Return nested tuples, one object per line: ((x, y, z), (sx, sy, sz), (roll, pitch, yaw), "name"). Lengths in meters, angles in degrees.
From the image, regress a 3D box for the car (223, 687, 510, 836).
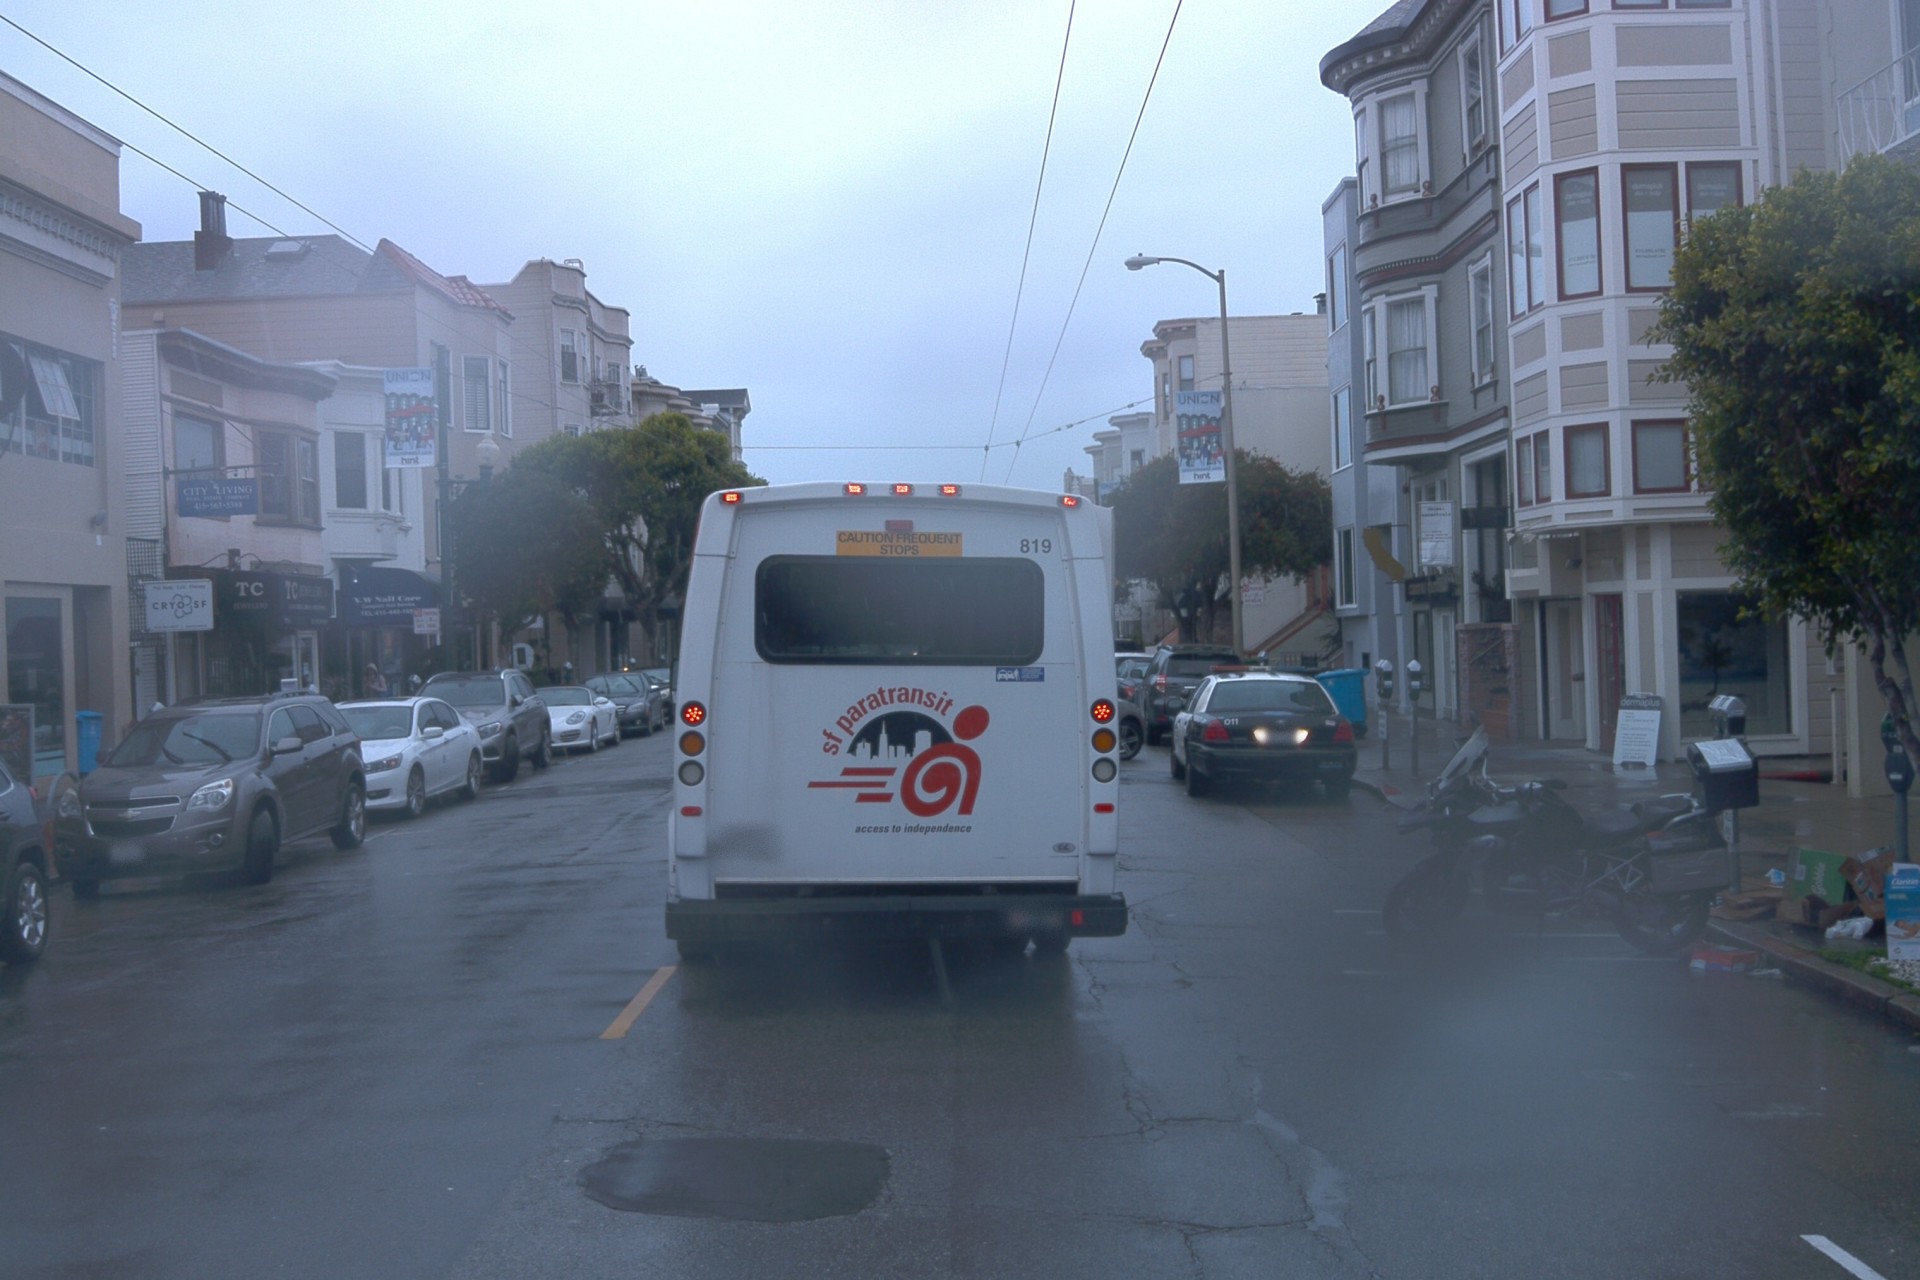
((-7.500, 1.478, 26.643), (2.131, 1.540, 5.132), (1, 1, 1), "car")

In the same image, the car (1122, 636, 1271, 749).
((4.026, 0.846, 35.851), (2.116, 1.790, 4.480), (1, 1, 1), "car")

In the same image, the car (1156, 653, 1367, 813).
((3.638, 1.058, 25.842), (2.108, 1.690, 5.363), (1, 1, 3), "car")

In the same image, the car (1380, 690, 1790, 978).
((3.882, 1.178, 13.039), (2.374, 1.650, 1.013), (1, 1, 12), "car")

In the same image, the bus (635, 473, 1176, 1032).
((-0.680, 0.548, 13.993), (2.785, 2.850, 6.710), (1, 1, -7), "bus")

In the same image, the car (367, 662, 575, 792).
((-7.535, 1.284, 32.286), (2.149, 1.760, 4.917), (1, 1, -1), "car")
